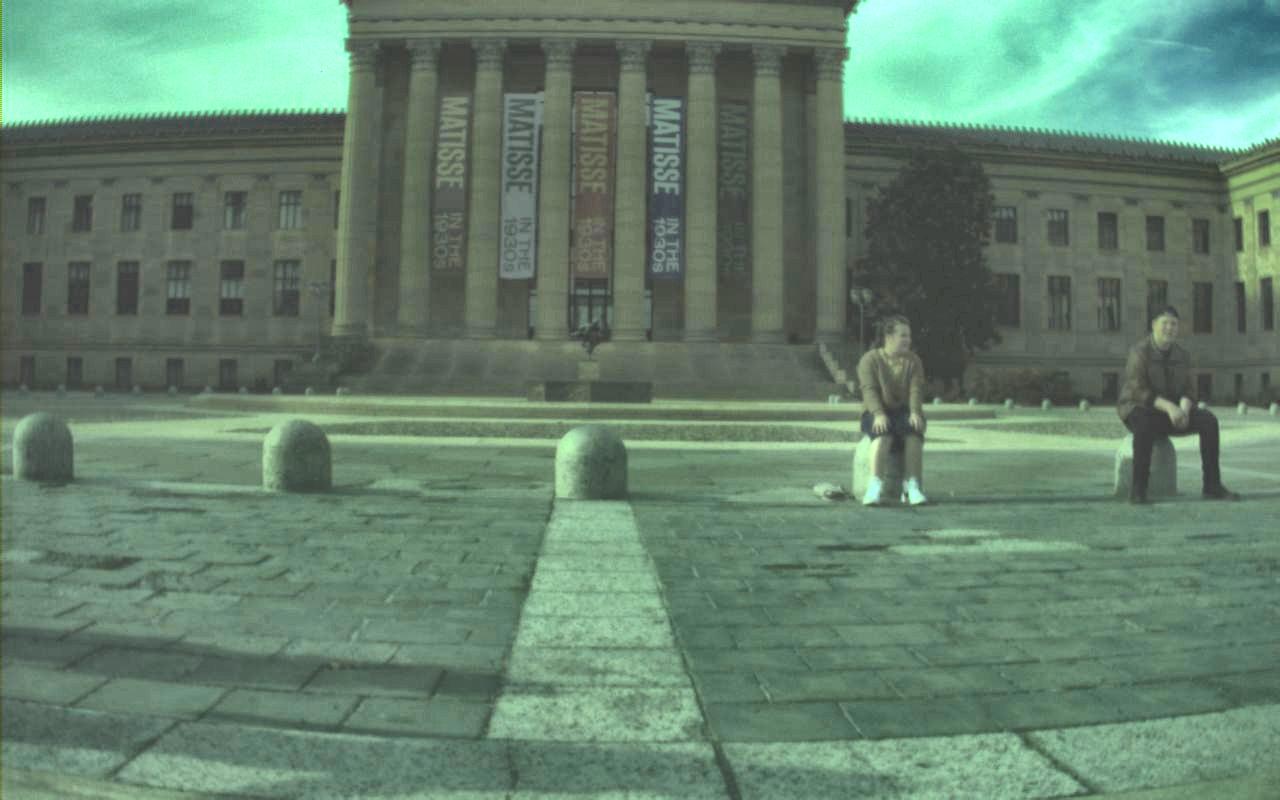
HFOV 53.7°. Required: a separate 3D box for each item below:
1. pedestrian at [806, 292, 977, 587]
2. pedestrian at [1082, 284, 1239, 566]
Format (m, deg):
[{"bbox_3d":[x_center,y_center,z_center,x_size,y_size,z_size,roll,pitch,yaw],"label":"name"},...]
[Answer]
[{"bbox_3d":[1.592,0.235,7.942,0.828,1.768,0.837,0,0,-11],"label":"pedestrian"},{"bbox_3d":[3.485,0.167,7.859,0.844,1.786,0.850,0,0,3],"label":"pedestrian"}]
